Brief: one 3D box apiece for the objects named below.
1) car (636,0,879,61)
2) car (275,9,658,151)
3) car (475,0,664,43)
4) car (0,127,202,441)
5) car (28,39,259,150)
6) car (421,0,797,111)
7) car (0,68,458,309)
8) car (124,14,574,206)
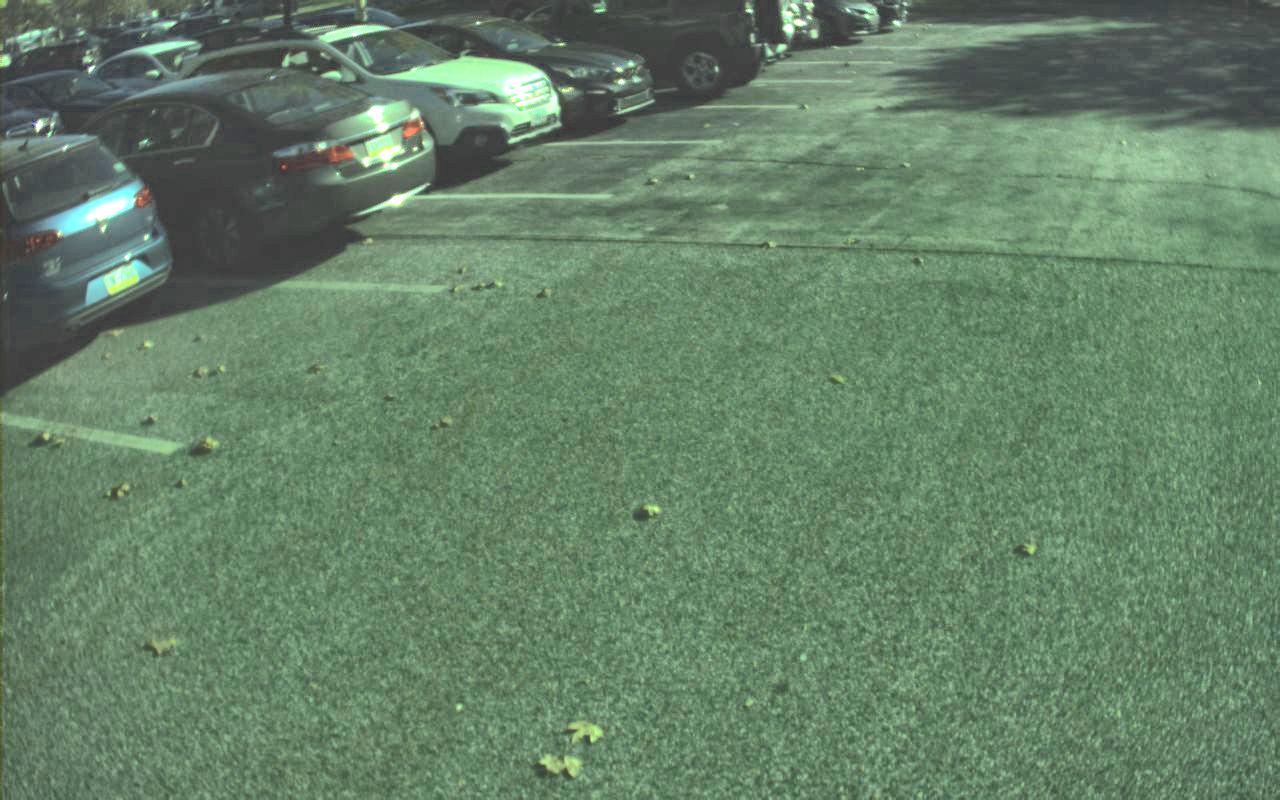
[{"bbox_3d":[2.324,-7.426,23.817,4.357,1.557,1.947,6,18,22],"label":"car"},{"bbox_3d":[-2.173,-3.872,14.810,4.346,1.525,1.927,7,18,25],"label":"car"},{"bbox_3d":[-1.965,-10.710,33.547,4.795,1.708,2.041,6,18,23],"label":"car"},{"bbox_3d":[-5.394,-0.996,8.020,4.344,1.595,1.941,7,18,24],"label":"car"},{"bbox_3d":[-9.079,-5.423,20.631,4.519,1.608,1.983,8,18,27],"label":"car"},{"bbox_3d":[-0.428,-4.915,16.804,4.731,1.777,2.049,5,17,21],"label":"car"},{"bbox_3d":[-3.939,-1.887,10.036,4.541,1.529,1.962,8,18,27],"label":"car"},{"bbox_3d":[-3.209,-3.055,12.653,4.620,1.691,2.011,7,18,25],"label":"car"}]
